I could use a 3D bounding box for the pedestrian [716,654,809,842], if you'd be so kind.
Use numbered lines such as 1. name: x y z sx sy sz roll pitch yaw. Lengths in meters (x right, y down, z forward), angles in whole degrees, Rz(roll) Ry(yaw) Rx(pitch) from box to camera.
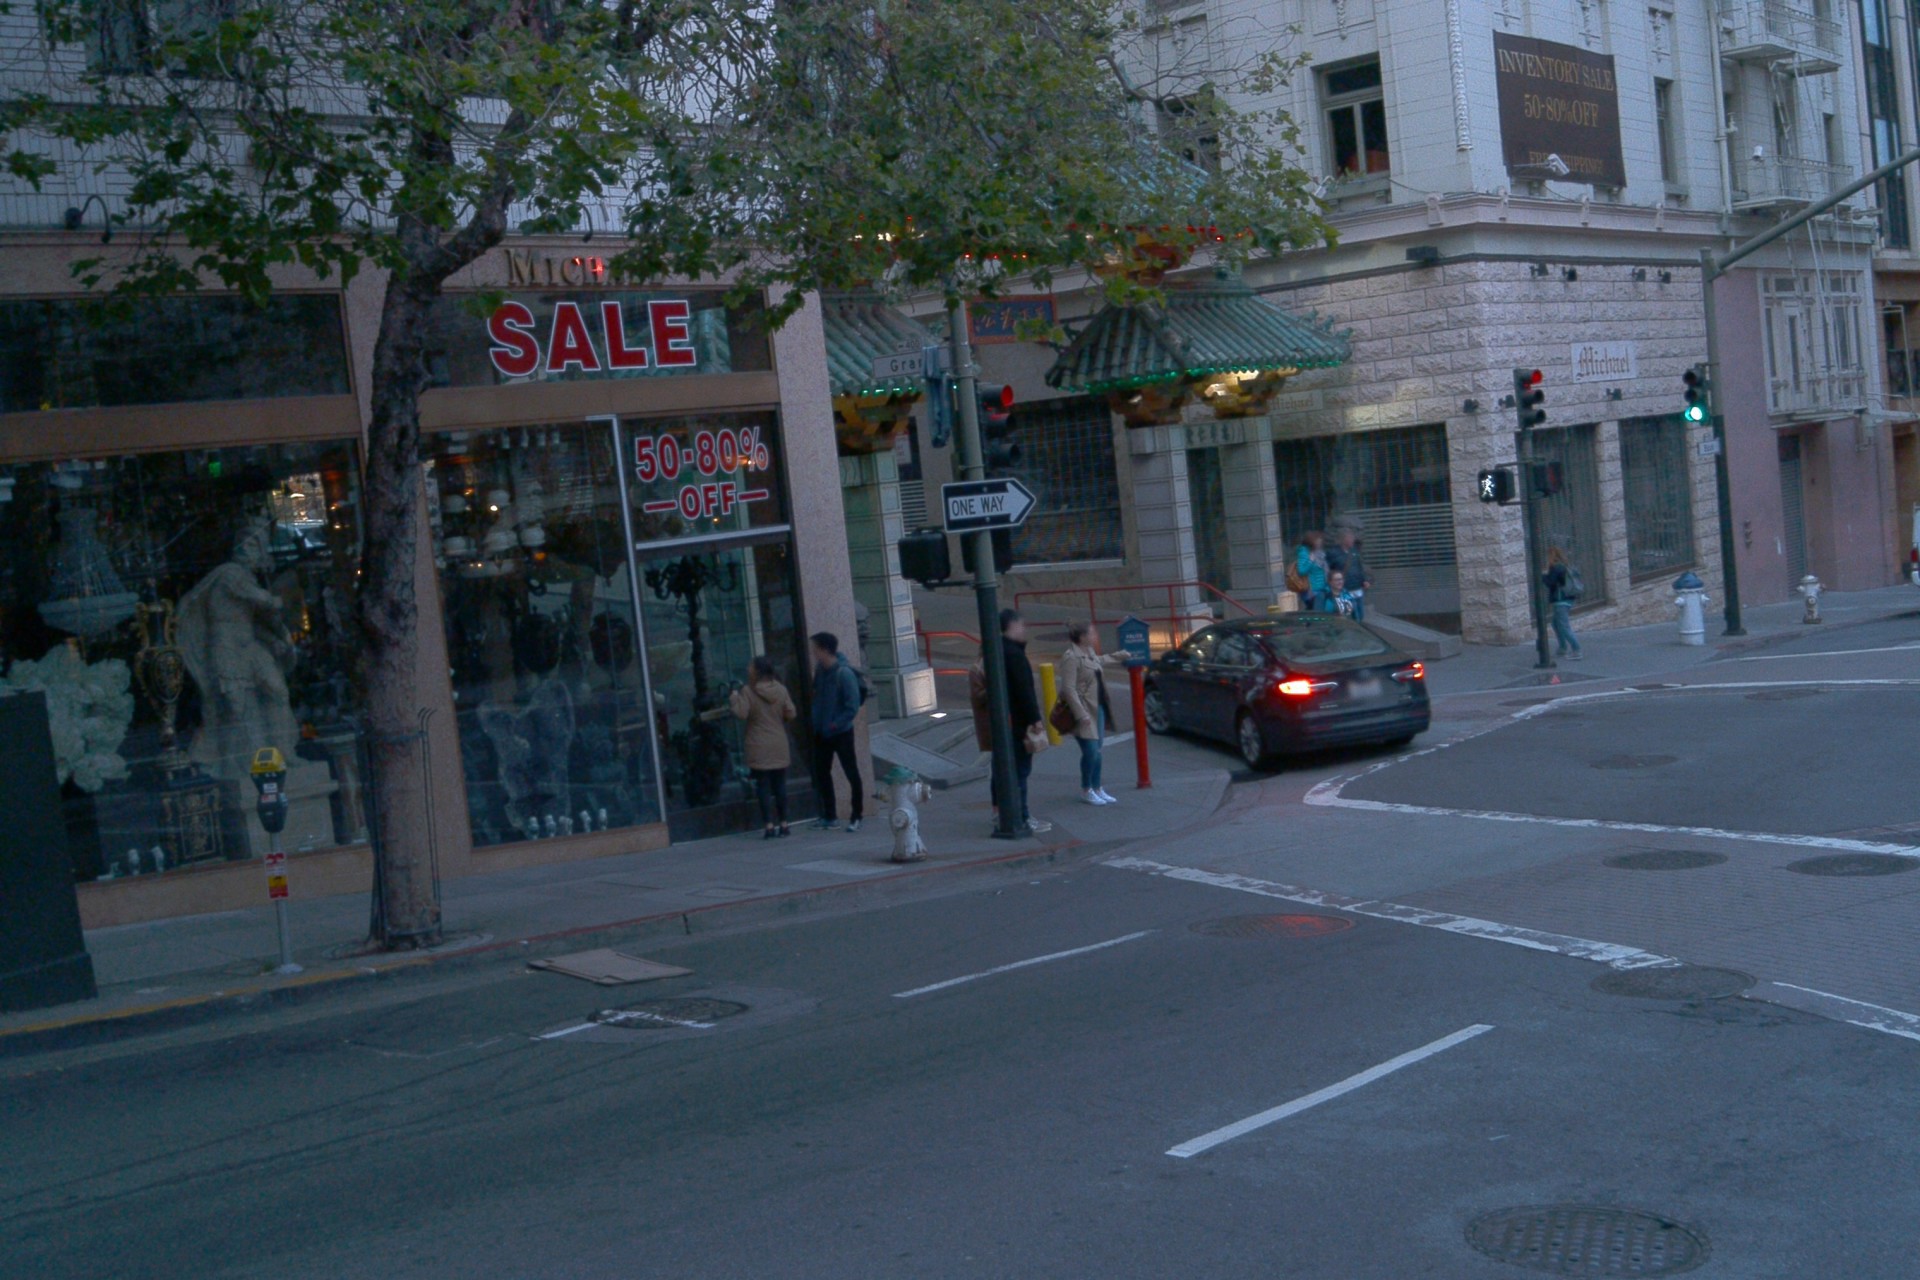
1. pedestrian: -1.713 0.924 17.971 0.789 1.580 0.743 0 1 -5

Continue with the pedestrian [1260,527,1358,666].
1. pedestrian: 4.751 -0.590 28.091 0.927 1.850 0.934 -1 1 -39

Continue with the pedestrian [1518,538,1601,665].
1. pedestrian: 8.050 -0.513 27.698 0.818 1.660 0.754 1 1 41

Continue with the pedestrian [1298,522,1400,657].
1. pedestrian: 5.389 -0.688 28.579 0.964 1.820 1.000 -1 1 -39

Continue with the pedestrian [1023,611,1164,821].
1. pedestrian: 1.247 0.672 19.193 0.817 1.880 1.093 0 1 39

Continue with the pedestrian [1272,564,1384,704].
1. pedestrian: 4.627 -0.081 25.962 0.976 1.710 0.985 -1 1 -30

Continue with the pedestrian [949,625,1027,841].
1. pedestrian: 0.252 0.810 18.392 0.531 1.880 0.637 0 1 18

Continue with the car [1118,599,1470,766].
1. car: 3.531 0.381 22.840 2.152 1.640 4.652 0 1 -15

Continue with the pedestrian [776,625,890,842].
1. pedestrian: -1.135 0.813 18.430 0.724 1.880 0.716 -1 1 -39

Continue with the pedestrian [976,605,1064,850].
1. pedestrian: 0.520 0.735 17.810 0.546 2.070 0.610 0 1 26
